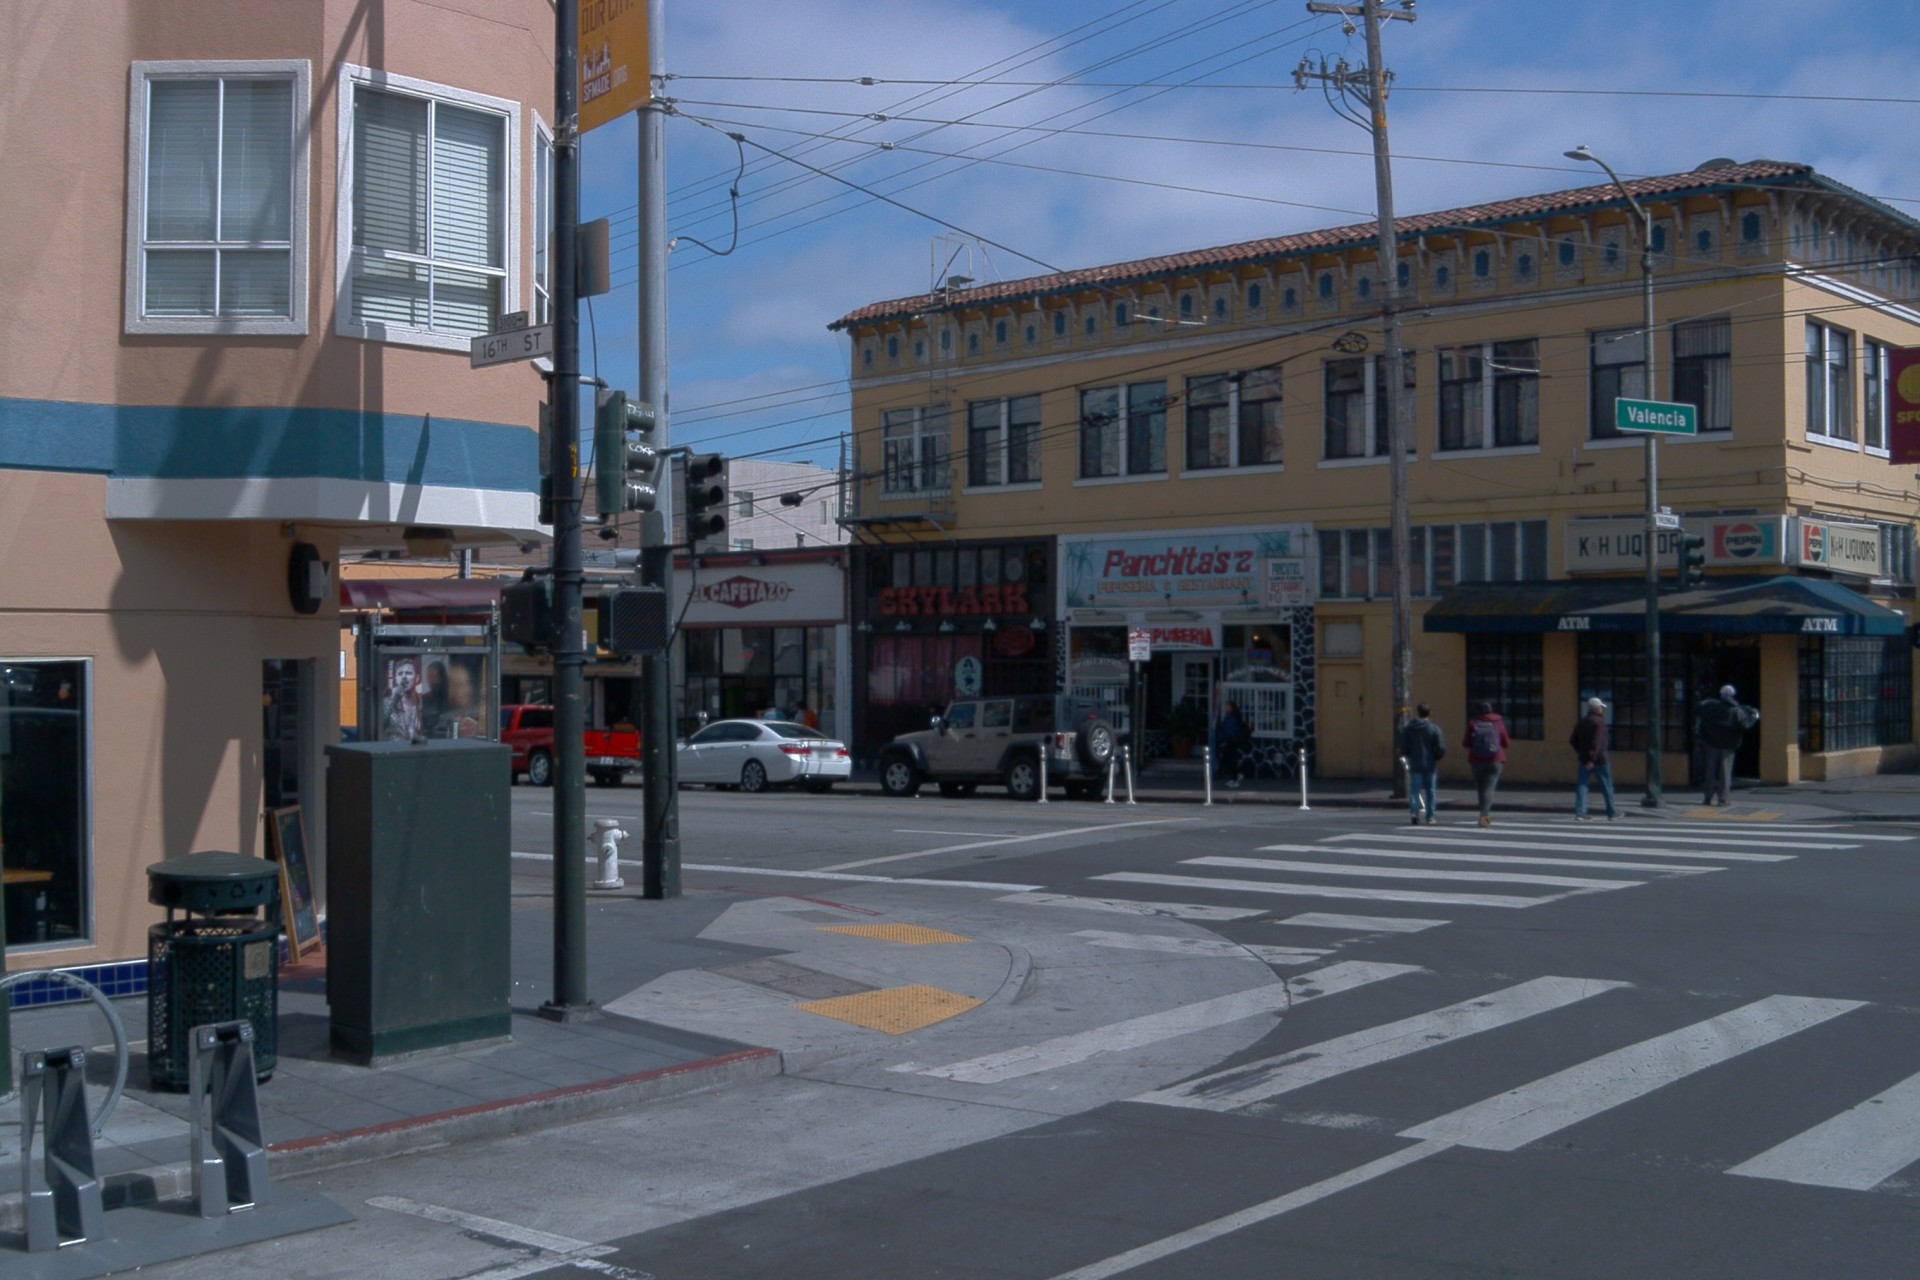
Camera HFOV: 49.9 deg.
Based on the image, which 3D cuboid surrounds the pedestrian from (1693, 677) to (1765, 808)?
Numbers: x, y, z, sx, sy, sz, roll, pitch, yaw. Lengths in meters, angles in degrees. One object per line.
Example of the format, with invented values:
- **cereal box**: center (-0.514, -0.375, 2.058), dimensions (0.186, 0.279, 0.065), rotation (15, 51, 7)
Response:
- **pedestrian**: center (11.242, 1.483, 30.162), dimensions (0.902, 1.850, 0.715), rotation (0, 1, 26)

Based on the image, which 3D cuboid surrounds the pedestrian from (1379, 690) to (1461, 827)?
- **pedestrian**: center (5.735, 1.454, 25.690), dimensions (0.881, 1.630, 0.915), rotation (0, 1, 20)

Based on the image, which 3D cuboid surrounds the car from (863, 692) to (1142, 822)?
- **car**: center (0.691, 1.980, 36.281), dimensions (4.715, 1.960, 2.025), rotation (1, 1, 42)

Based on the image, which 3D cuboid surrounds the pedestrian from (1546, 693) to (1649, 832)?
- **pedestrian**: center (8.358, 1.580, 27.055), dimensions (1.084, 1.730, 0.796), rotation (-1, 1, -35)

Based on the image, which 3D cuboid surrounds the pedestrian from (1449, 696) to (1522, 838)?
- **pedestrian**: center (6.437, 1.537, 25.264), dimensions (0.746, 1.650, 0.862), rotation (0, 1, 22)

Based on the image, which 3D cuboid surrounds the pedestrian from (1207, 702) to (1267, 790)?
- **pedestrian**: center (4.982, 1.894, 37.104), dimensions (0.957, 1.530, 0.767), rotation (0, 1, 18)
